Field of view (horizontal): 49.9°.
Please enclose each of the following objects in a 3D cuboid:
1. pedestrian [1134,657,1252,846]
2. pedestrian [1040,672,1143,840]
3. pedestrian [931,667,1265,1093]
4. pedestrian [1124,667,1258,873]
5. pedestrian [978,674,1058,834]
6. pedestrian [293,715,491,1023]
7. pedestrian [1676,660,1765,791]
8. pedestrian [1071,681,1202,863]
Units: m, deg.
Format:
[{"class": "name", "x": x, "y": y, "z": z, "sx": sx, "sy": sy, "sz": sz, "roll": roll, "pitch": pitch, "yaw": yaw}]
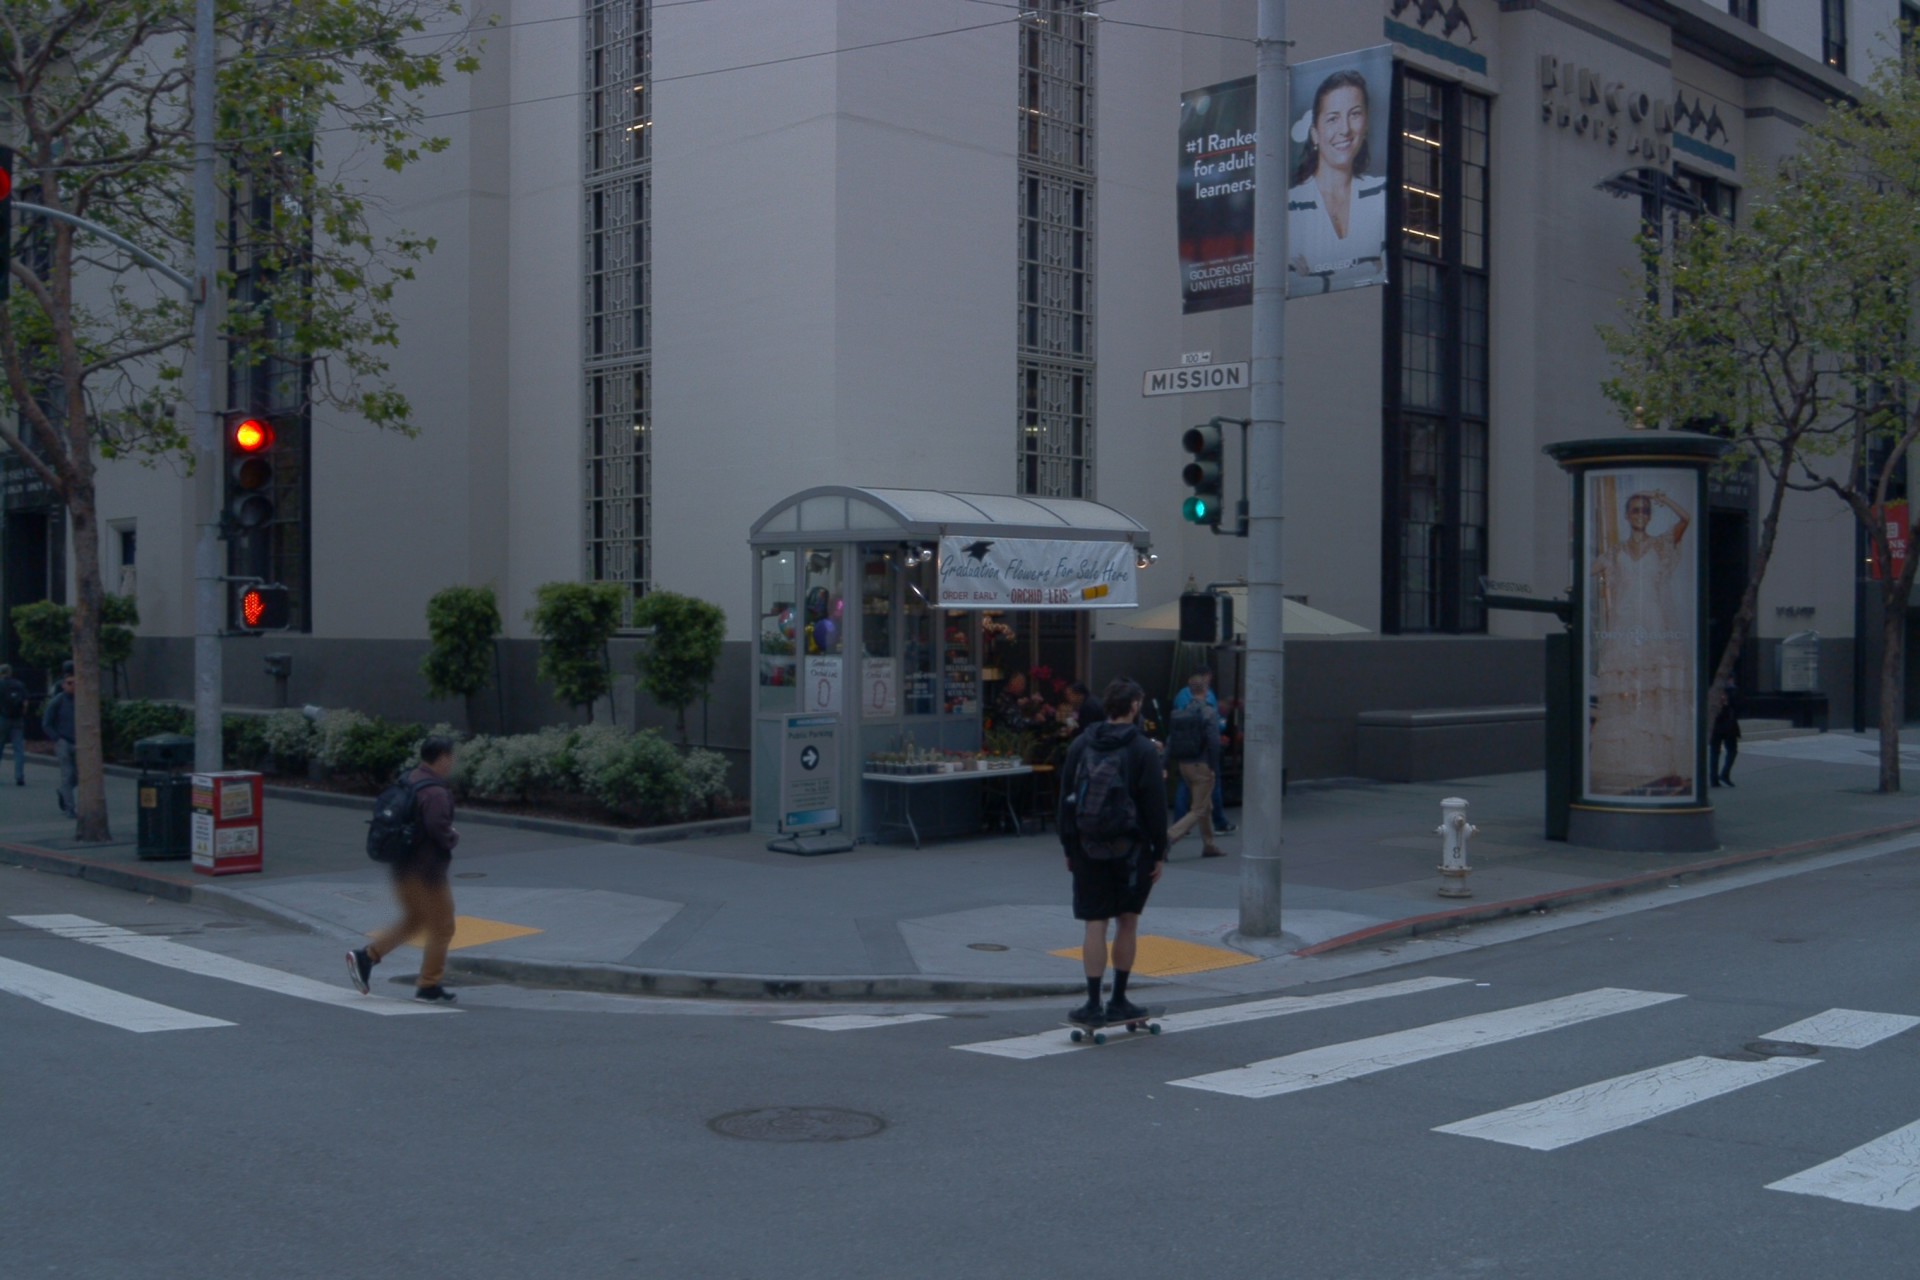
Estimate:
[{"class": "pedestrian", "x": 2.448, "y": 1.138, "z": 21.628, "sx": 0.798, "sy": 1.896, "sz": 0.984, "roll": 1, "pitch": 1, "yaw": 44}, {"class": "pedestrian", "x": 1.428, "y": 1.235, "z": 22.337, "sx": 0.751, "sy": 1.746, "sz": 0.848, "roll": 1, "pitch": 1, "yaw": 40}, {"class": "pedestrian", "x": 0.777, "y": 1.233, "z": 11.407, "sx": 1.097, "sy": 2.118, "sz": 1.544, "roll": 1, "pitch": 1, "yaw": 45}, {"class": "pedestrian", "x": 2.235, "y": 1.225, "z": 19.945, "sx": 1.051, "sy": 1.896, "sz": 0.762, "roll": -1, "pitch": 1, "yaw": -37}, {"class": "pedestrian", "x": 0.633, "y": 1.228, "z": 22.548, "sx": 0.699, "sy": 1.696, "sz": 0.508, "roll": 0, "pitch": 1, "yaw": 37}, {"class": "pedestrian", "x": -3.520, "y": 1.379, "z": 12.804, "sx": 0.964, "sy": 1.771, "sz": 0.716, "roll": -1, "pitch": 1, "yaw": -40}, {"class": "pedestrian", "x": 10.696, "y": 1.186, "z": 29.023, "sx": 0.963, "sy": 1.766, "sz": 0.842, "roll": -1, "pitch": 1, "yaw": -44}, {"class": "pedestrian", "x": 1.748, "y": 1.282, "z": 20.433, "sx": 0.974, "sy": 1.706, "sz": 0.840, "roll": -1, "pitch": 1, "yaw": -40}]
